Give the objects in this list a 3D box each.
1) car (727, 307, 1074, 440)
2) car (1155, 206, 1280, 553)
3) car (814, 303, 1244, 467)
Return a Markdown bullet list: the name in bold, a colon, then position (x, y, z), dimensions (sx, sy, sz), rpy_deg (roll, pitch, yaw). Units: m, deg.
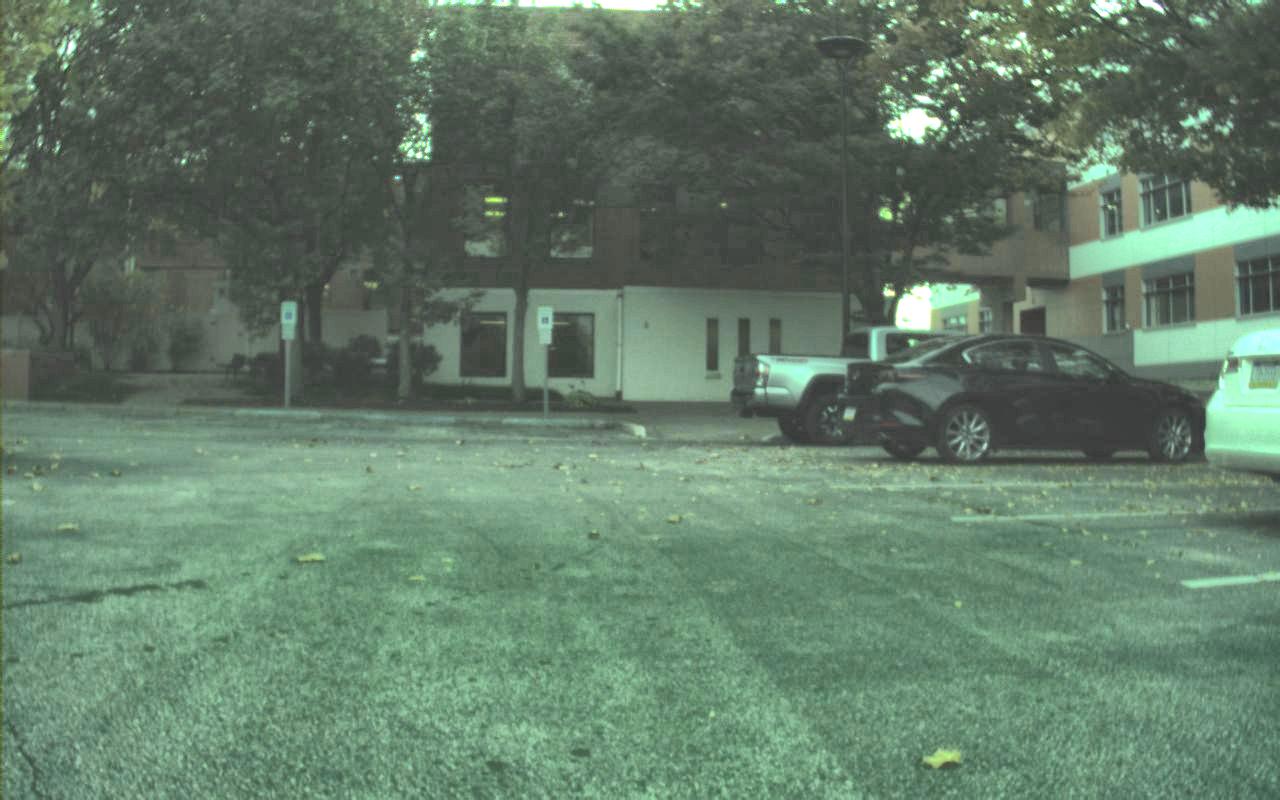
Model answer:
- **car**: position (3.904, -0.383, 18.689), dimensions (4.936, 1.827, 2.066), rpy_deg (0, 1, -7)
- **car**: position (5.331, -0.087, 6.178), dimensions (4.446, 1.582, 1.927), rpy_deg (0, 1, -8)
- **car**: position (4.489, -0.167, 13.737), dimensions (4.742, 1.613, 1.978), rpy_deg (0, 1, -12)
